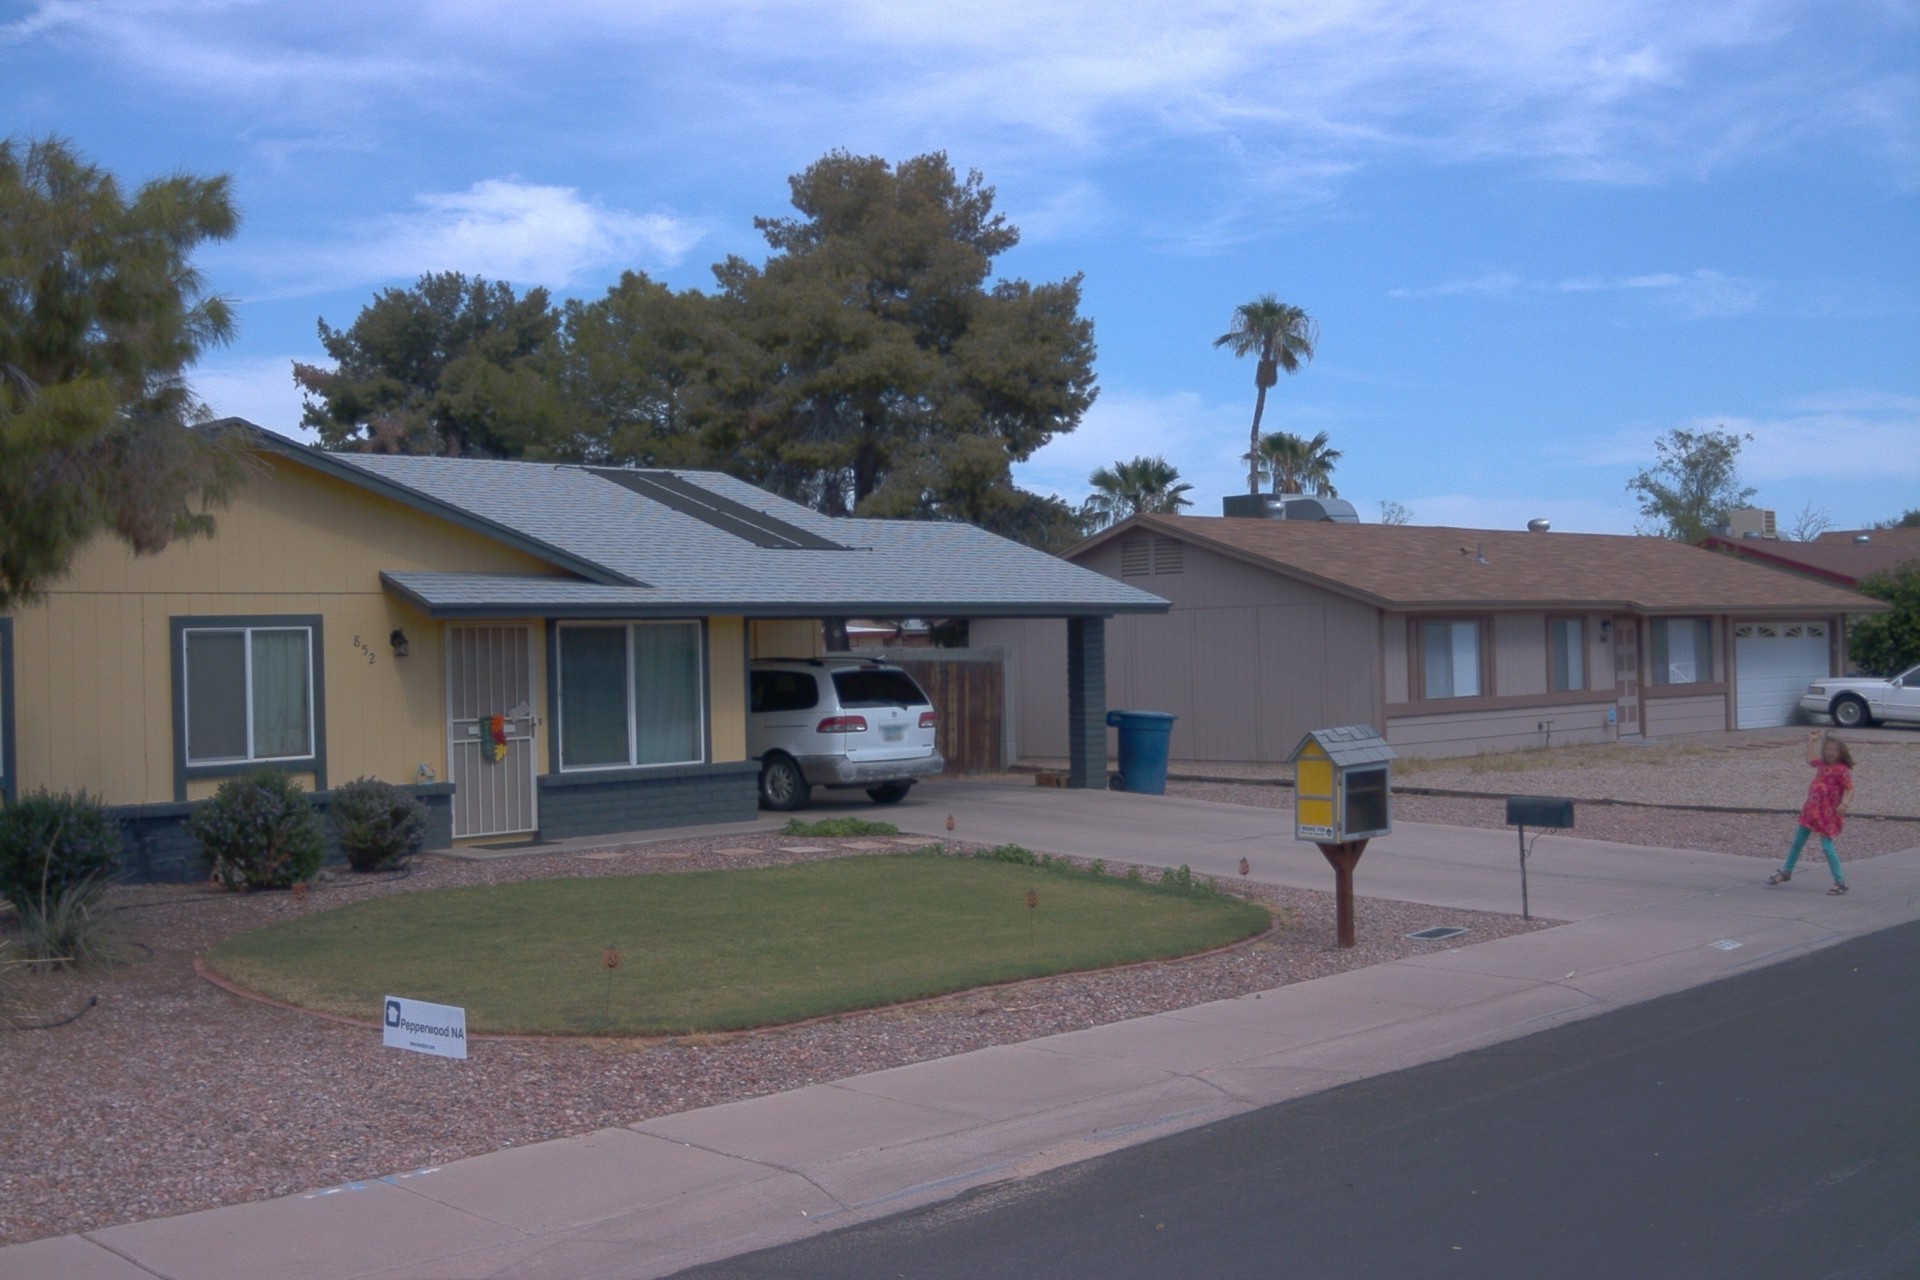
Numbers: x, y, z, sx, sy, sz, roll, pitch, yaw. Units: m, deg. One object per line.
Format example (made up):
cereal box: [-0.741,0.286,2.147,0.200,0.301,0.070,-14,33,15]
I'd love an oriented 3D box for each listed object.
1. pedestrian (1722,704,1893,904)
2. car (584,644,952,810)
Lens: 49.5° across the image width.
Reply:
pedestrian: [7.151,1.349,17.587,0.965,1.580,1.014,0,0,-43]
car: [-2.327,0.950,24.630,4.247,1.790,1.856,0,0,40]
